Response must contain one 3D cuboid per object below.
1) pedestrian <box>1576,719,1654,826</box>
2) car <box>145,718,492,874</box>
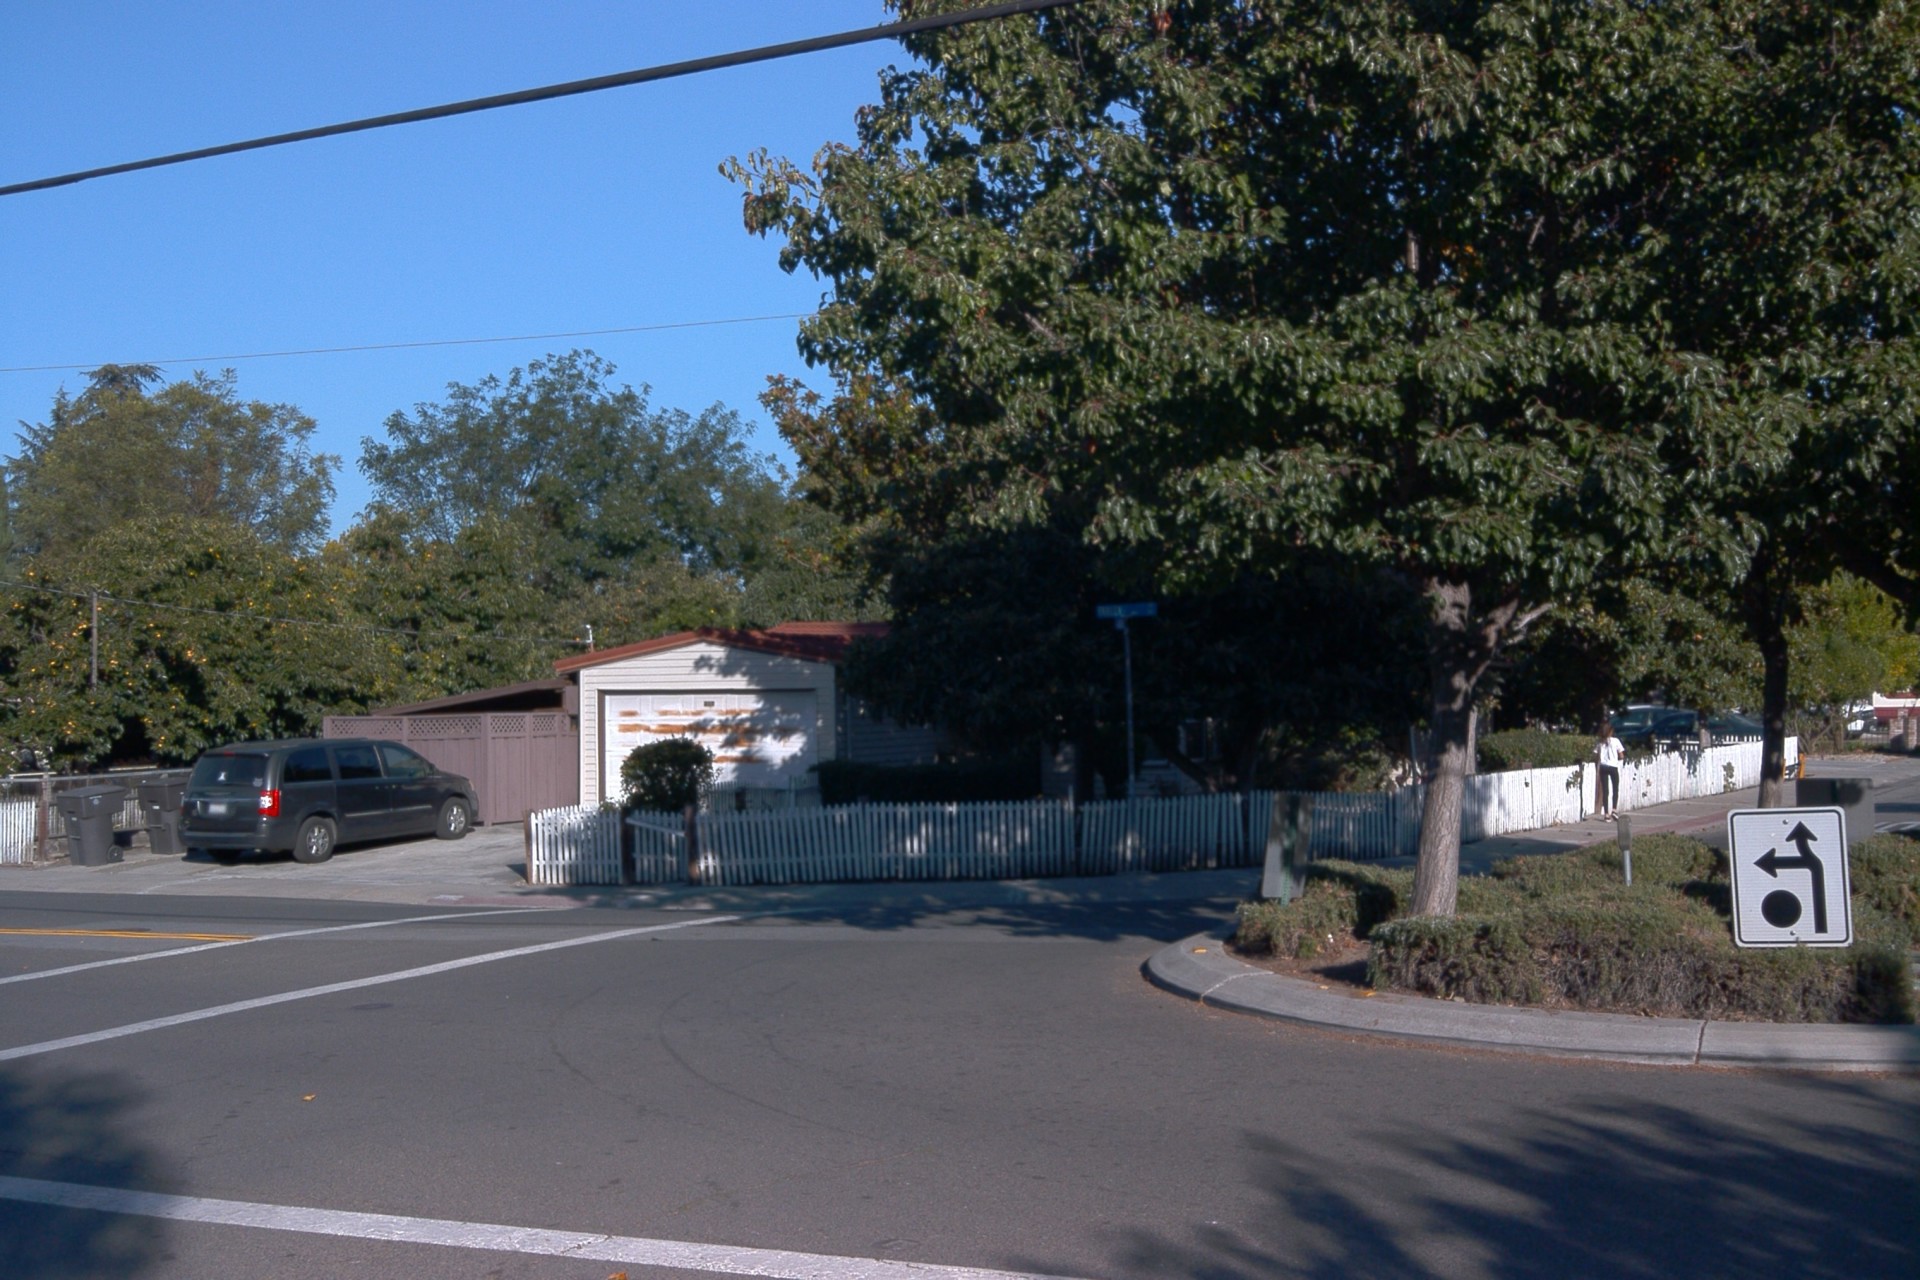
[{"bbox_3d":[10.241,2.051,32.466,0.836,1.580,1.184,1,0,34],"label":"pedestrian"},{"bbox_3d":[-9.473,2.241,31.194,2.140,1.930,4.988,1,0,25],"label":"car"}]
